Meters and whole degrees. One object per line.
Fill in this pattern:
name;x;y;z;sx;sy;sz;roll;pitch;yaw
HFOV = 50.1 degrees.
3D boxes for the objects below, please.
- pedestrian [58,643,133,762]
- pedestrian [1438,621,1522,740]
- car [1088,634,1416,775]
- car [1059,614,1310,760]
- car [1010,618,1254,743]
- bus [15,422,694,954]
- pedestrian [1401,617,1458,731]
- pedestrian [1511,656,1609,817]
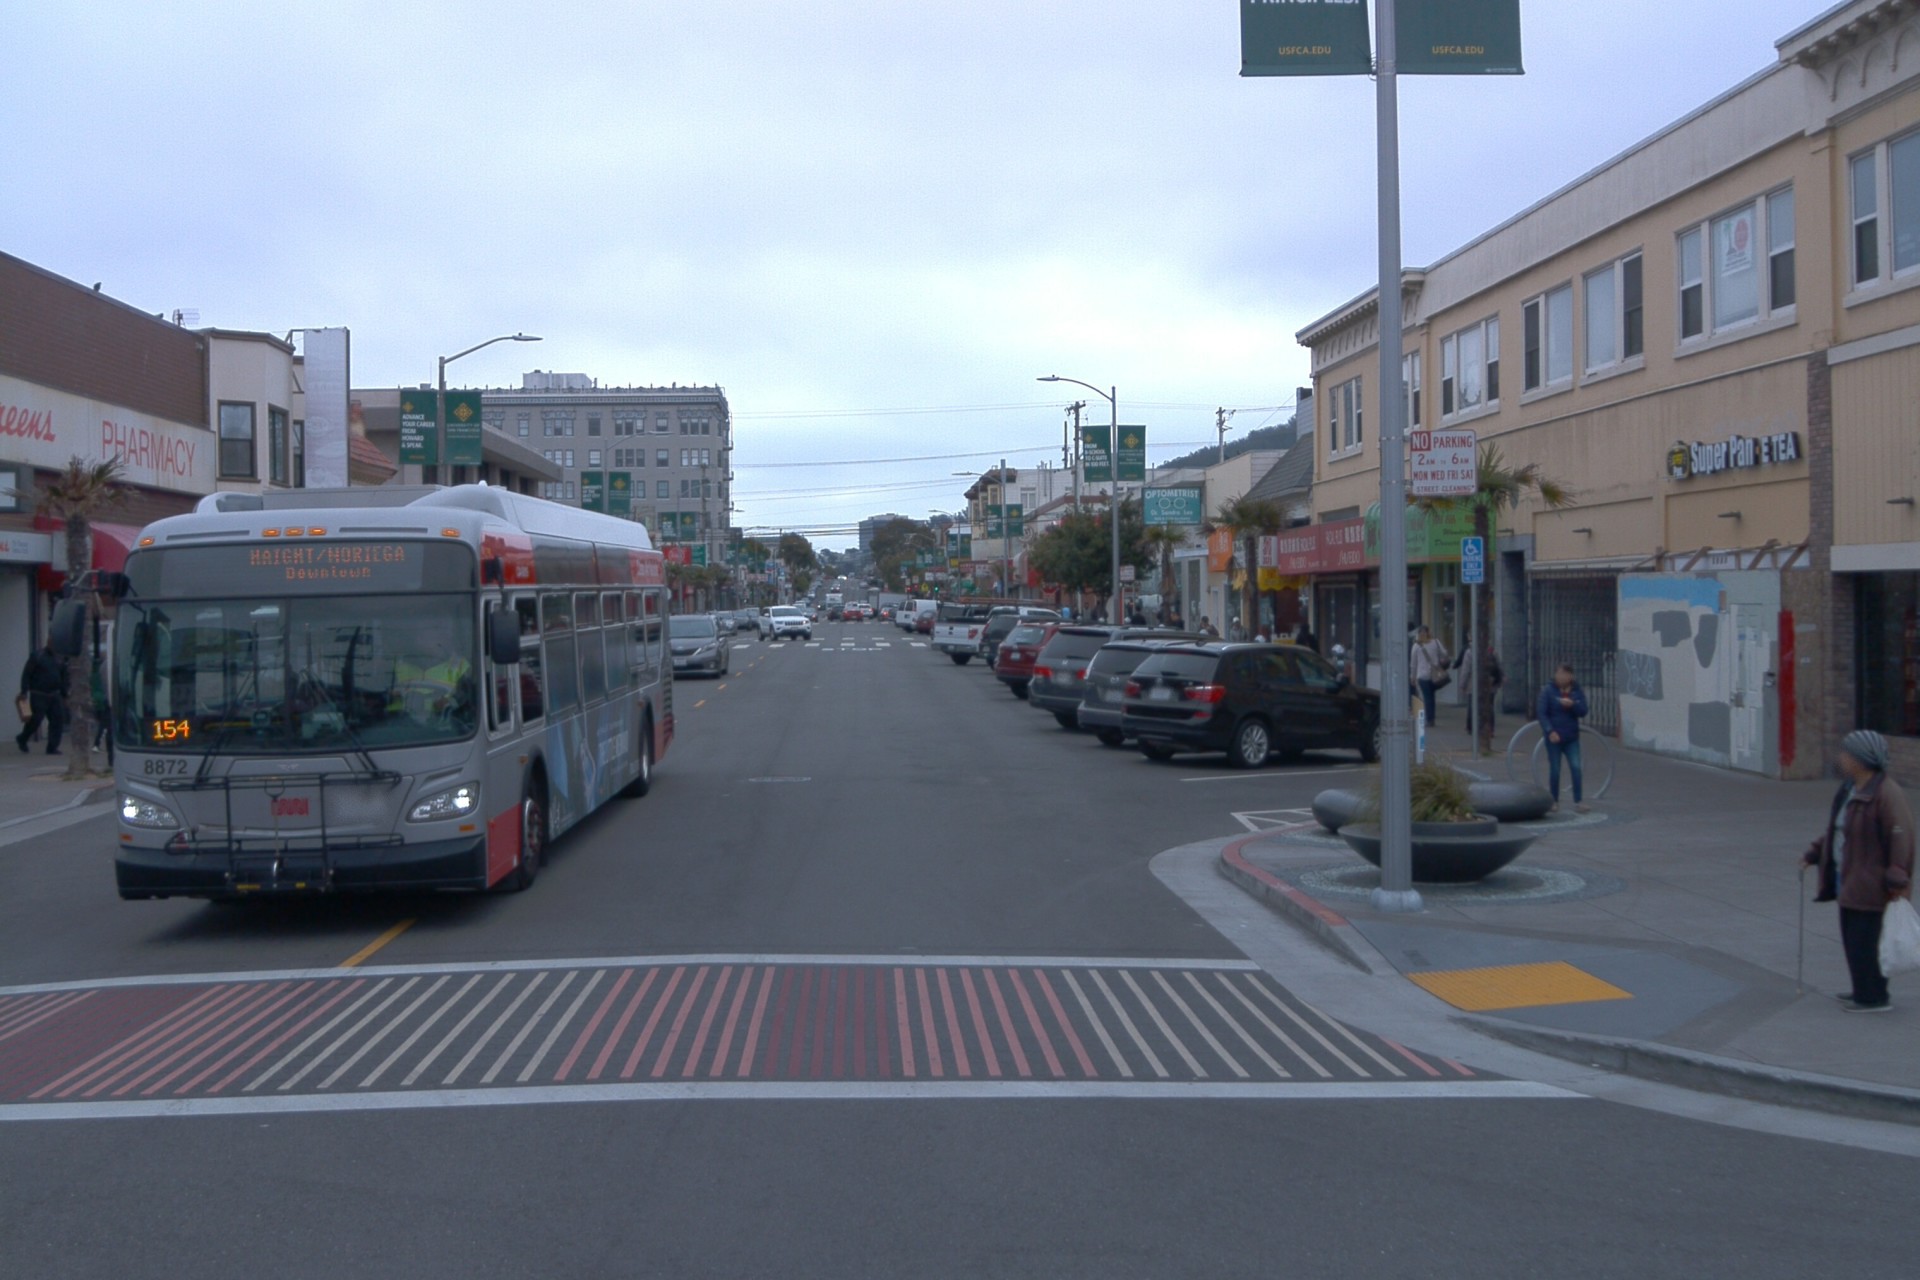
pedestrian;-12.941;0.920;30.818;0.766;1.713;1.104;0;1;-8
pedestrian;7.912;0.607;31.292;0.922;1.770;0.951;0;1;-10
car;4.119;0.819;28.576;4.509;1.740;2.044;-1;1;-41
car;3.410;0.643;30.952;3.671;2.040;1.761;-1;1;-42
car;2.898;0.615;34.198;3.847;1.931;1.922;-1;1;-42
bus;-4.786;0.210;19.825;3.212;3.480;12.598;0;1;-2
pedestrian;7.653;0.537;33.548;0.711;1.824;0.916;0;1;0
pedestrian;6.120;0.971;20.994;0.747;1.598;0.778;0;1;-2
